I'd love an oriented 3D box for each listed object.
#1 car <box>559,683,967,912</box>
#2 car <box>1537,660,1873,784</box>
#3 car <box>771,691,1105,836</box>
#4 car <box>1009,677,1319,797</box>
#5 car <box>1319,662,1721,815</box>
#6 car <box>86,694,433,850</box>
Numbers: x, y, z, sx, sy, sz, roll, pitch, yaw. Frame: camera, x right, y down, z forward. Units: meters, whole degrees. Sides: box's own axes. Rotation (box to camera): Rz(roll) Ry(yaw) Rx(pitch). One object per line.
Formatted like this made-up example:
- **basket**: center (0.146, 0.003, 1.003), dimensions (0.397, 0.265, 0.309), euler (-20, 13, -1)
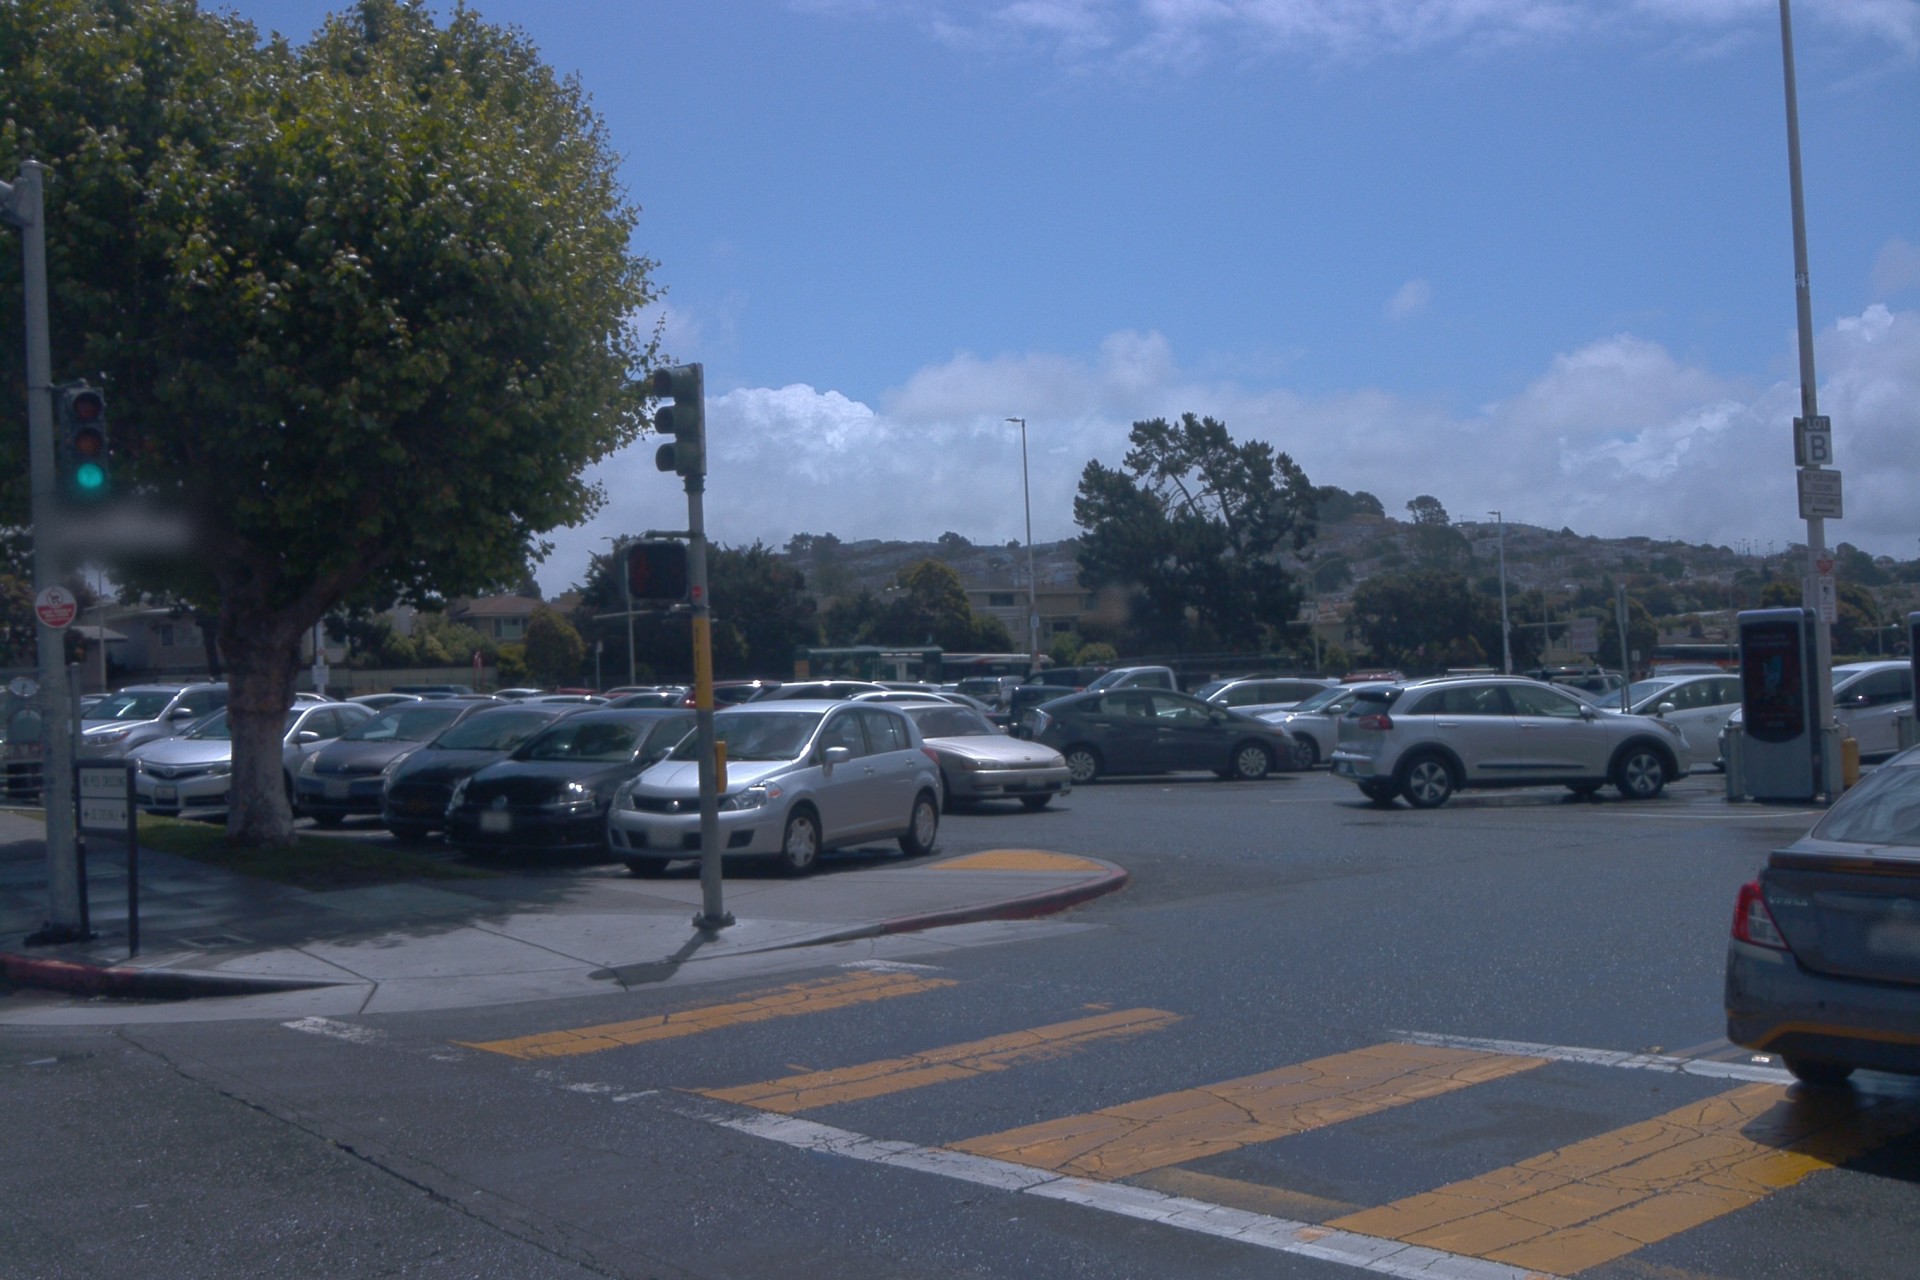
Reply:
- **car**: center (-1.662, 1.324, 19.007), dimensions (1.981, 1.700, 4.254), euler (0, 1, 23)
- **car**: center (11.140, 1.184, 30.871), dimensions (4.337, 1.700, 1.971), euler (0, 1, -12)
- **car**: center (-0.402, 1.545, 27.184), dimensions (2.050, 1.550, 4.817), euler (-1, 1, -35)
- **car**: center (3.132, 1.473, 32.096), dimensions (4.442, 1.710, 2.055), euler (0, 1, -7)
- **car**: center (6.809, 1.160, 25.221), dimensions (4.320, 1.710, 1.951), euler (0, 1, -8)
- **car**: center (-8.988, 1.630, 26.816), dimensions (2.119, 1.660, 4.449), euler (0, 1, 16)
